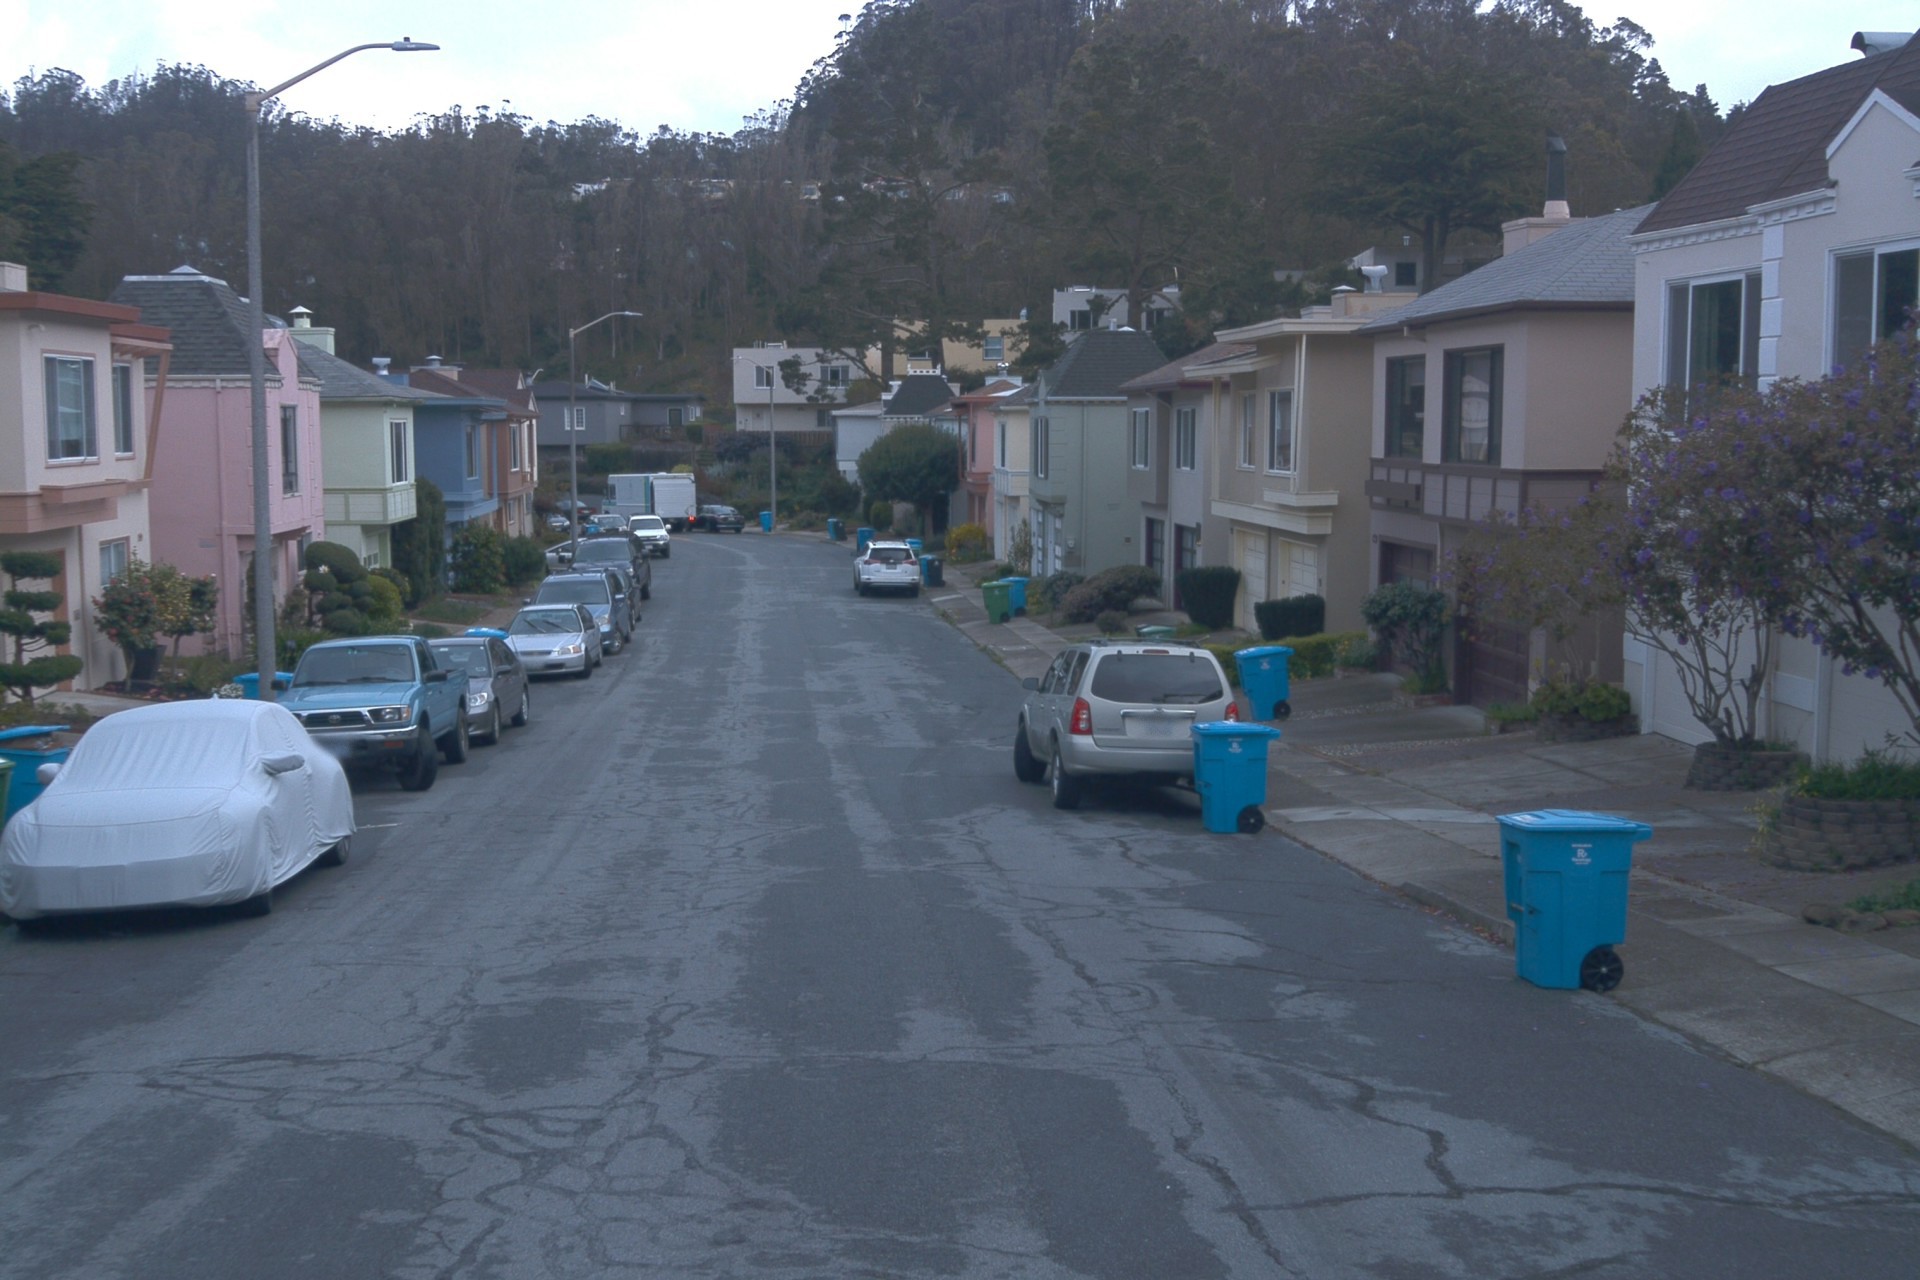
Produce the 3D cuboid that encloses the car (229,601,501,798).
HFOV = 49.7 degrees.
[{"bbox_3d":[-6.889,0.643,24.584,2.183,2.085,5.078,0,0,-5],"label":"car"}]

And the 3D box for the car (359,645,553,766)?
[{"bbox_3d":[-7.116,0.880,29.702,1.931,1.590,4.513,0,0,-3],"label":"car"}]

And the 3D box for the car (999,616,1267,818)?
[{"bbox_3d":[1.714,0.757,22.214,2.143,1.940,4.473,0,0,-5],"label":"car"}]
